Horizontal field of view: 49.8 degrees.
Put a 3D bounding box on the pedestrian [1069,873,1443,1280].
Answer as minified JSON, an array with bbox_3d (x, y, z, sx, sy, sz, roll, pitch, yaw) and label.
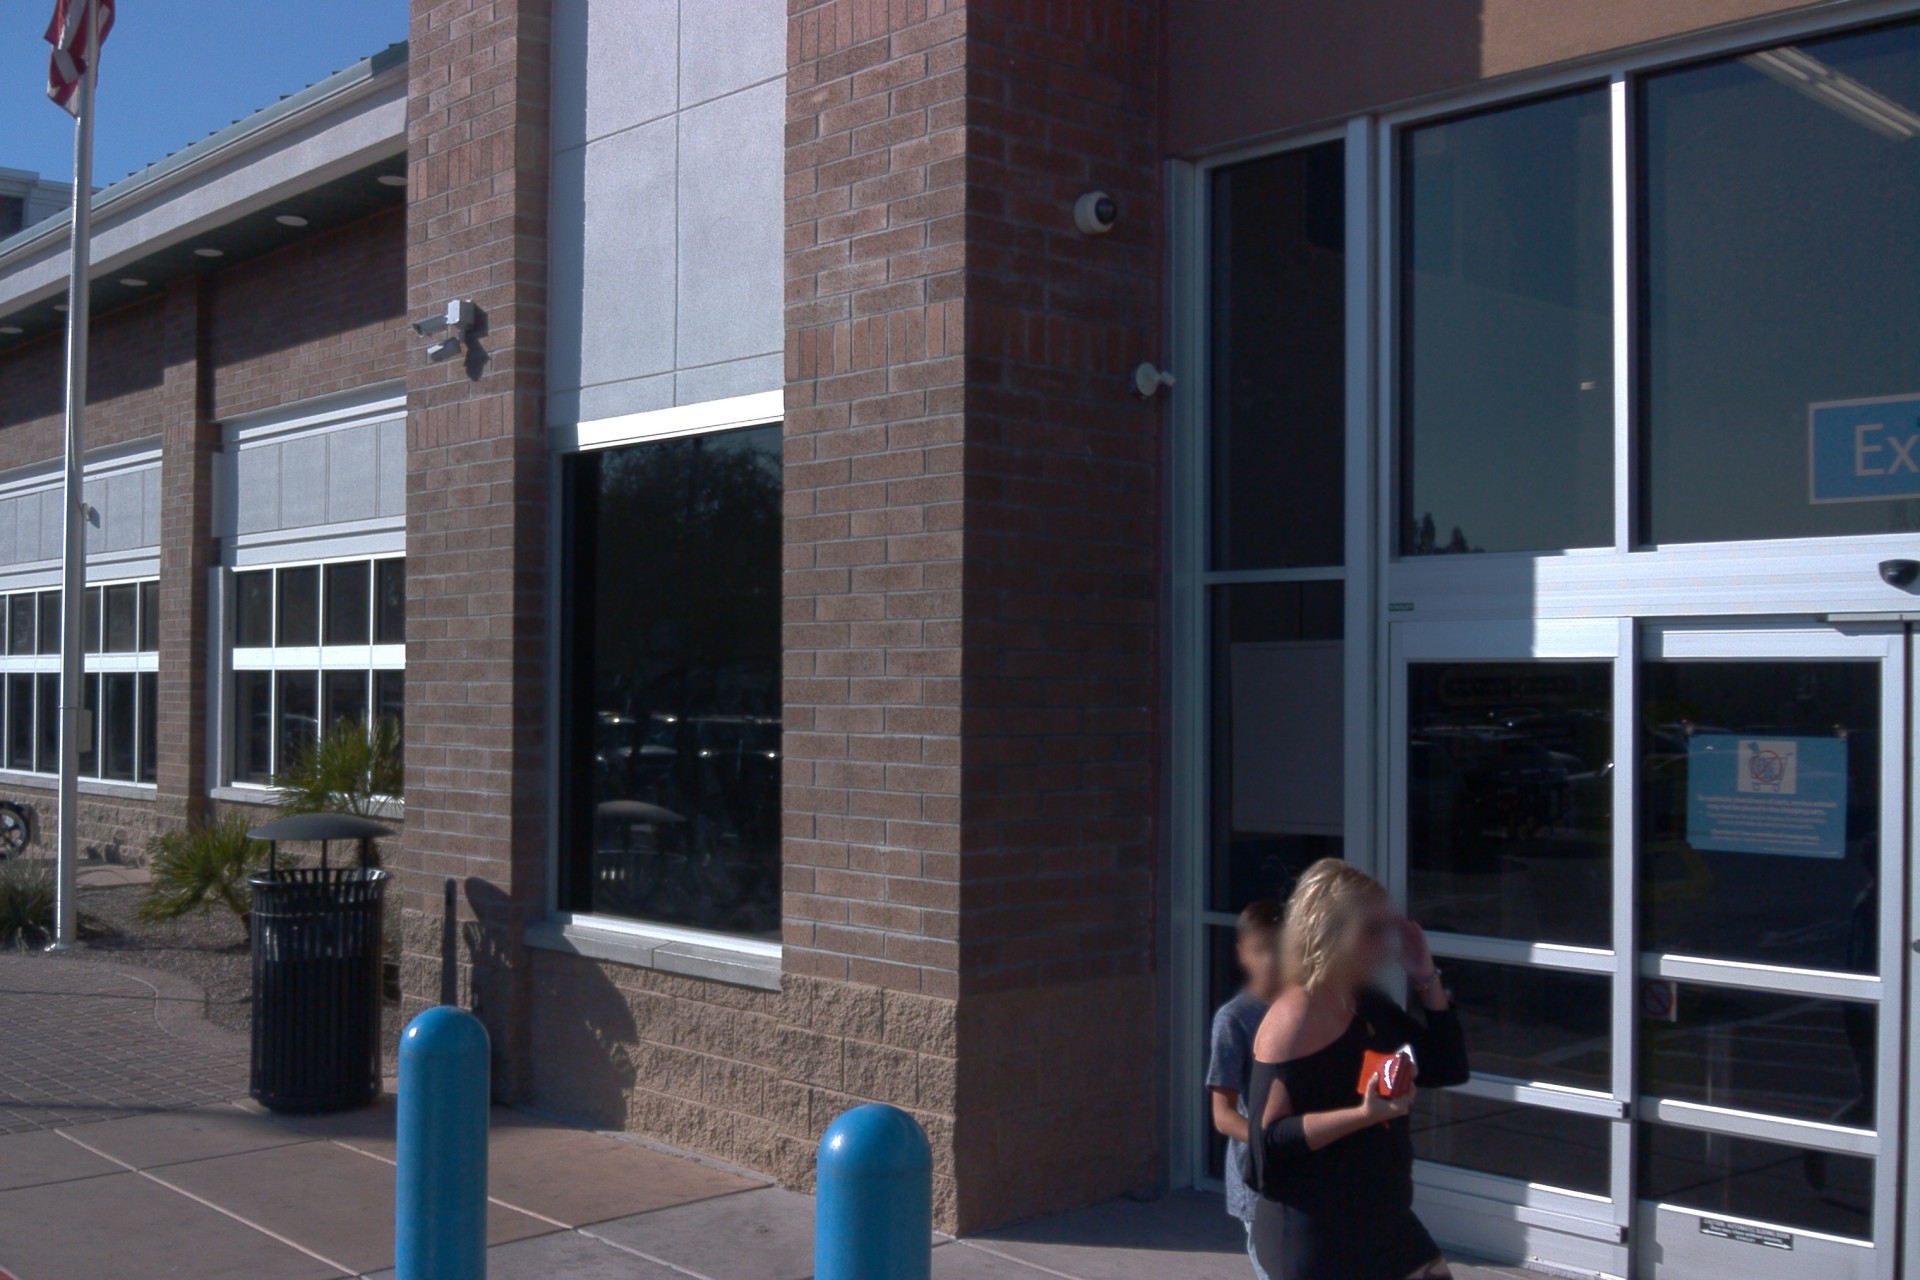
[{"bbox_3d":[0.759,1.381,5.214,0.709,1.490,0.734,0,0,30],"label":"pedestrian"}]

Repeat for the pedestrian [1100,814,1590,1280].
[{"bbox_3d":[0.828,1.283,4.405,0.782,1.750,0.735,0,0,37],"label":"pedestrian"}]
